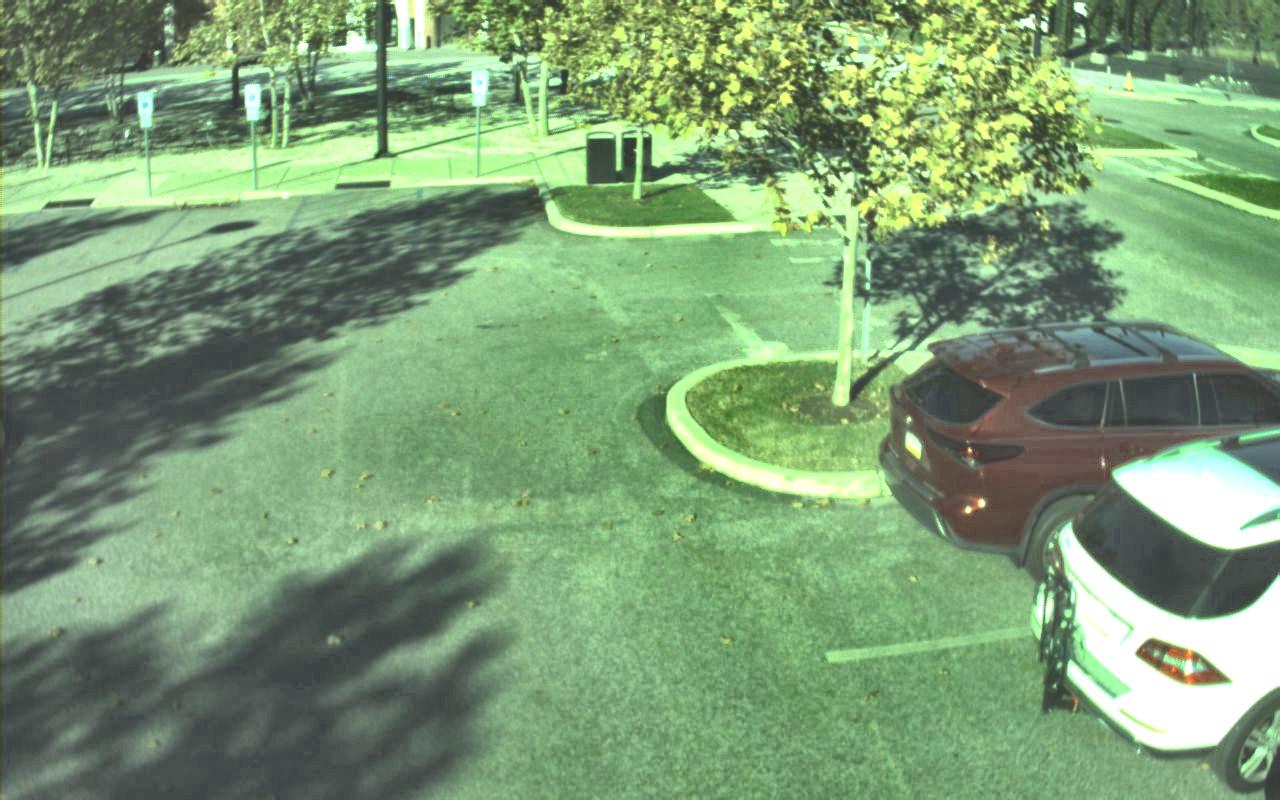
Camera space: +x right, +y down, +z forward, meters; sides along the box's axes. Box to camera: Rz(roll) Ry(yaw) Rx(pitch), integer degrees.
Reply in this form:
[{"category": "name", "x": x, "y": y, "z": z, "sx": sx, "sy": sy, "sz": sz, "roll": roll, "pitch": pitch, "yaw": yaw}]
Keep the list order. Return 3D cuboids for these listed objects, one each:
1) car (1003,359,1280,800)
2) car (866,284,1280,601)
[{"category": "car", "x": 4.729, "y": 0.981, "z": 7.000, "sx": 4.515, "sy": 1.661, "sz": 1.983, "roll": -5, "pitch": 17, "yaw": -12}, {"category": "car", "x": 4.274, "y": 0.174, "z": 9.660, "sx": 4.527, "sy": 1.723, "sz": 1.986, "roll": -4, "pitch": 16, "yaw": -9}]
